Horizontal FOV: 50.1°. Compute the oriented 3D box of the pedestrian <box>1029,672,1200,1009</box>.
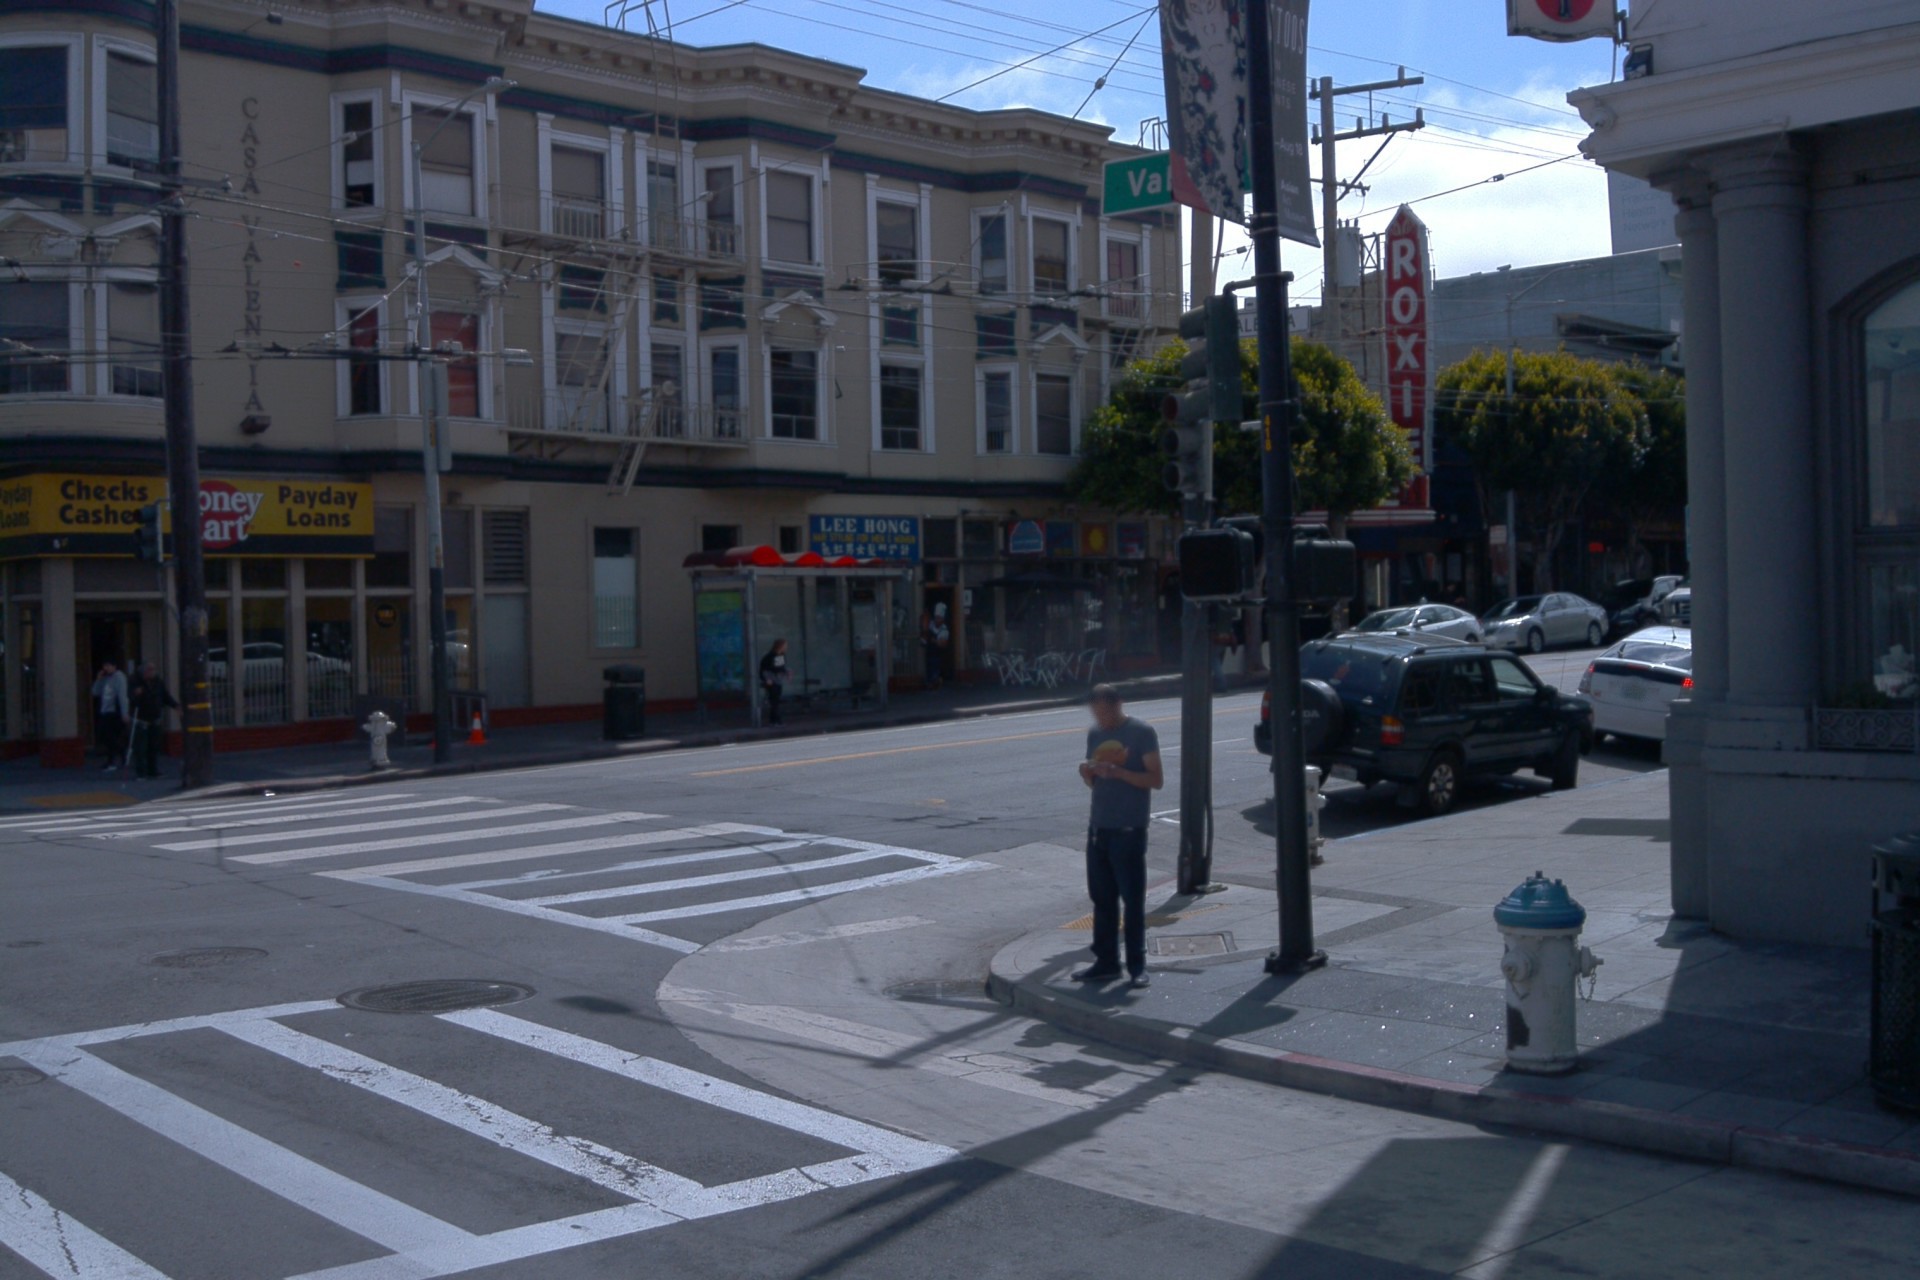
[{"bbox_3d":[0.906,1.139,12.097,0.690,1.880,0.721,0,0,-41],"label":"pedestrian"}]

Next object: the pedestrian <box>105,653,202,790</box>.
[{"bbox_3d":[-11.071,1.090,28.204,0.995,1.790,1.336,0,0,-32],"label":"pedestrian"}]

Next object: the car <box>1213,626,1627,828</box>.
[{"bbox_3d":[4.937,0.800,21.658,2.130,1.870,4.629,0,1,44],"label":"car"}]

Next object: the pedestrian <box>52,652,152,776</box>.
[{"bbox_3d":[-12.317,1.041,29.530,0.918,1.720,0.962,0,0,26],"label":"pedestrian"}]

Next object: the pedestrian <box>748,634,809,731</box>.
[{"bbox_3d":[-3.074,0.707,34.774,0.673,1.610,0.841,0,0,-40],"label":"pedestrian"}]
